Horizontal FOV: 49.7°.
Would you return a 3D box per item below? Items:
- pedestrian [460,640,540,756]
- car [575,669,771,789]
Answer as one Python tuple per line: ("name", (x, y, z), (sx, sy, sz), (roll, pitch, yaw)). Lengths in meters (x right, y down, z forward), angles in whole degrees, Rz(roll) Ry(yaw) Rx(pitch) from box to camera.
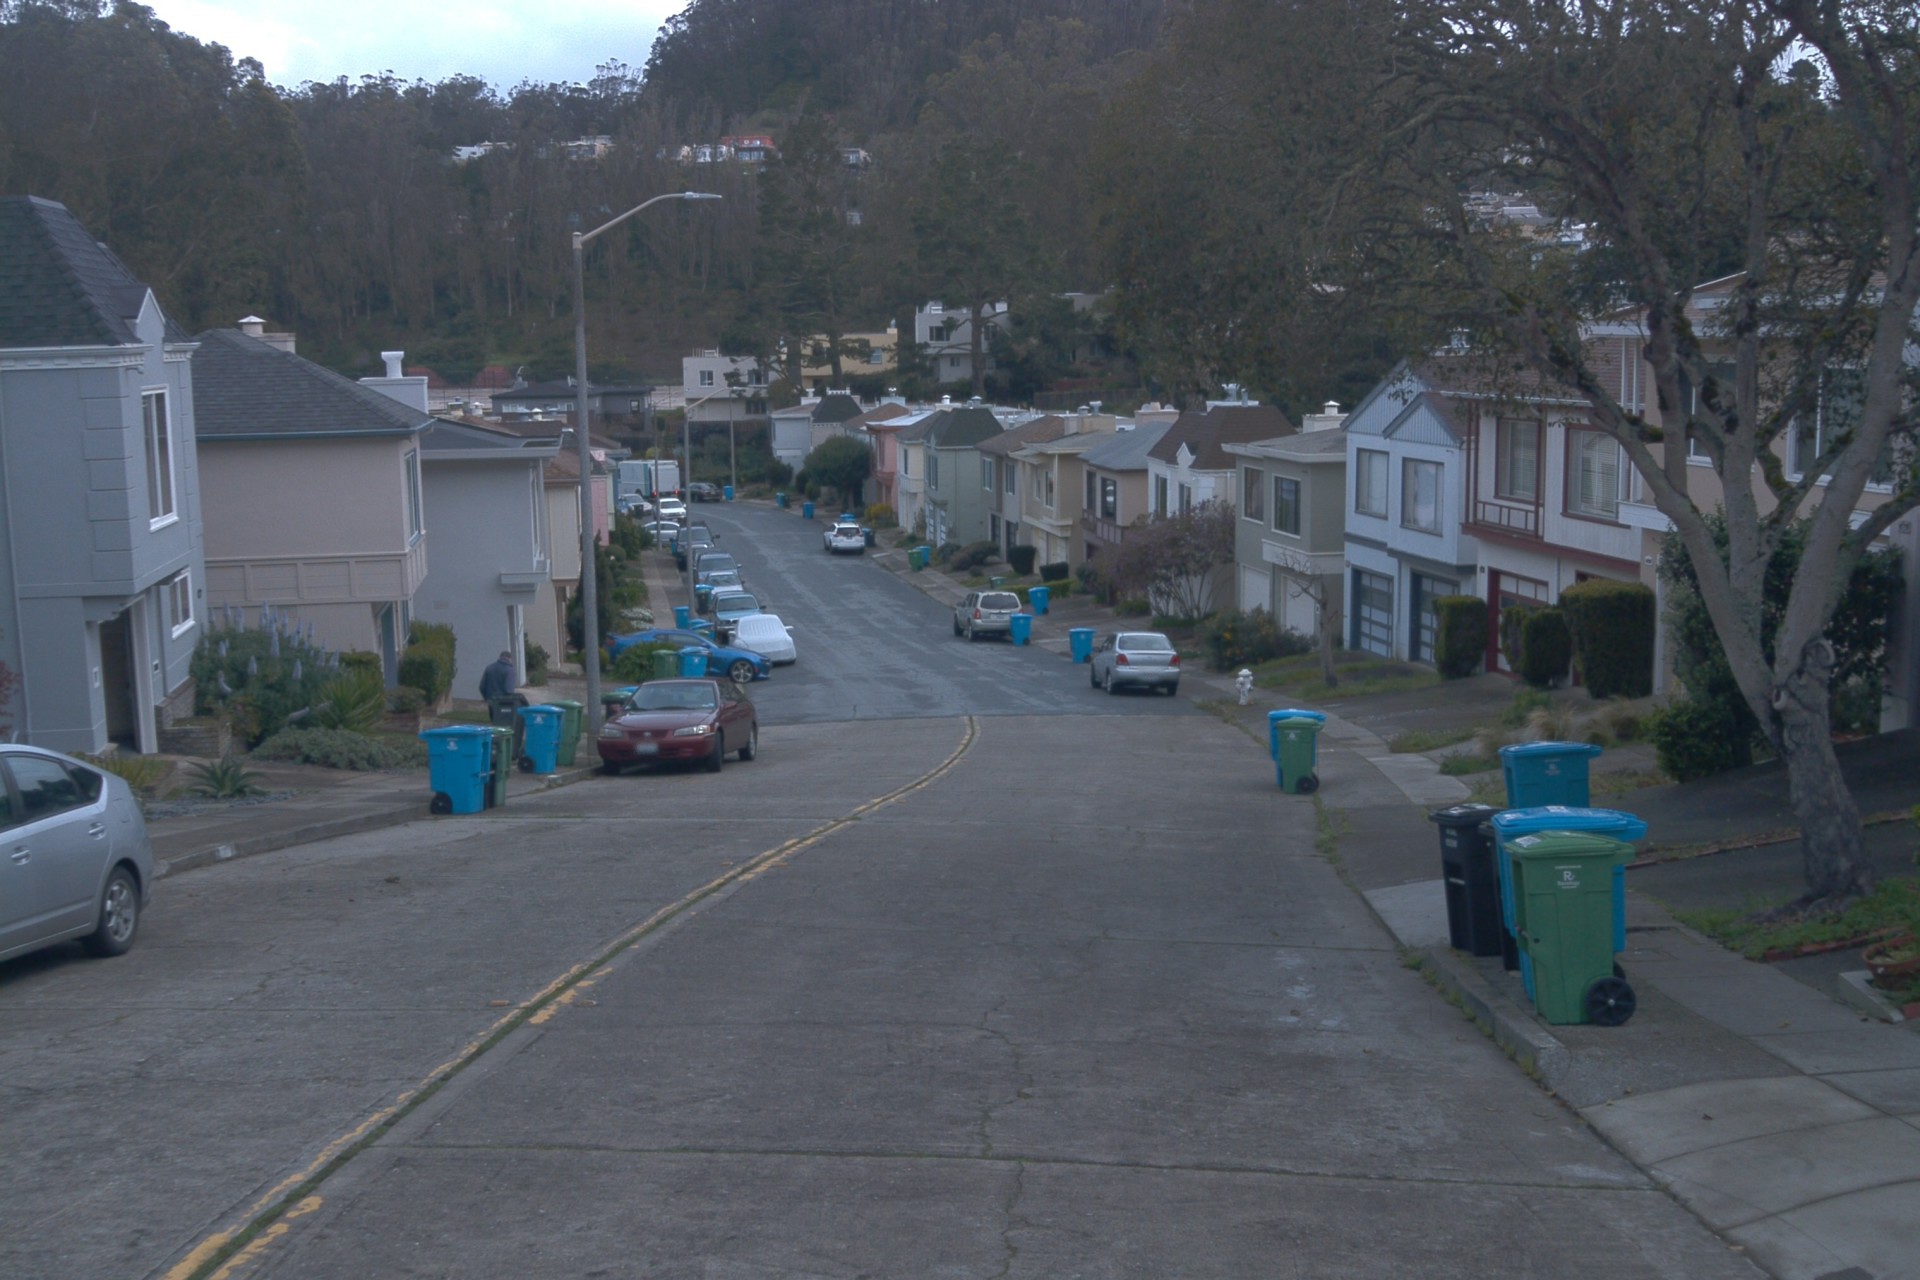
("pedestrian", (-6.993, 0.874, 31.515), (1.000, 1.730, 1.000), (0, 0, 0))
("car", (-4.327, 1.308, 32.052), (2.007, 1.660, 4.691), (0, 0, 5))
